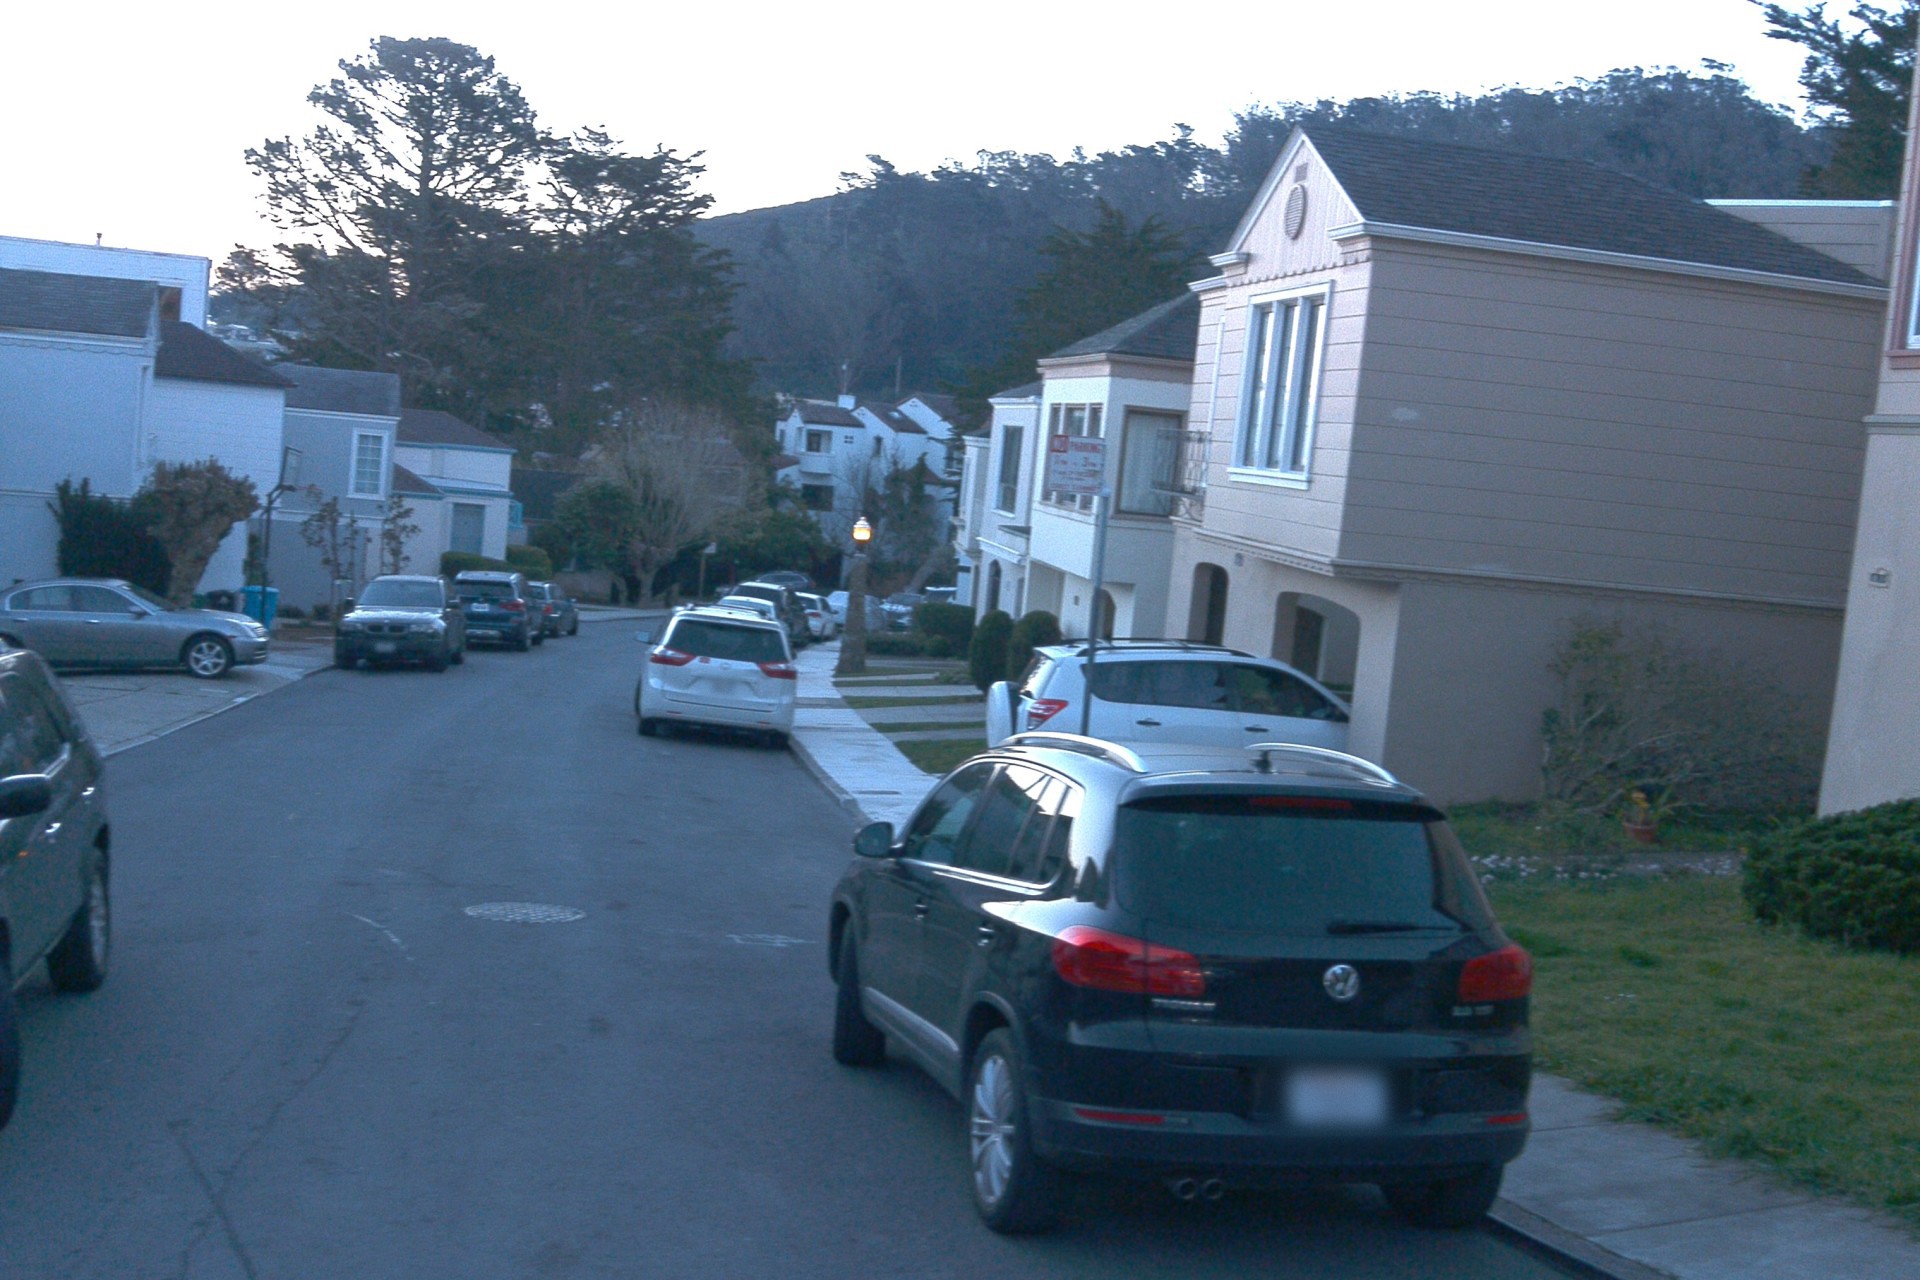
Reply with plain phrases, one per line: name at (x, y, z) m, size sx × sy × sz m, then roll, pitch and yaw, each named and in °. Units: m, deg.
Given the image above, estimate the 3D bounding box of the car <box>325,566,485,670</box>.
car at (-9.848, -0.386, 37.139) m, size 2.098 × 1.740 × 4.521 m, roll 0°, pitch 0°, yaw -7°

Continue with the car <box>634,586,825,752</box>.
car at (-3.264, 0.351, 28.493) m, size 2.380 × 2.050 × 5.065 m, roll 0°, pitch 0°, yaw -9°

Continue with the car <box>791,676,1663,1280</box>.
car at (0.703, 1.183, 8.580) m, size 2.128 × 1.960 × 4.465 m, roll 0°, pitch 0°, yaw -14°

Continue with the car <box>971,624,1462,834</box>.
car at (2.380, 0.797, 19.905) m, size 4.333 × 1.860 × 1.947 m, roll 0°, pitch 0°, yaw -8°
